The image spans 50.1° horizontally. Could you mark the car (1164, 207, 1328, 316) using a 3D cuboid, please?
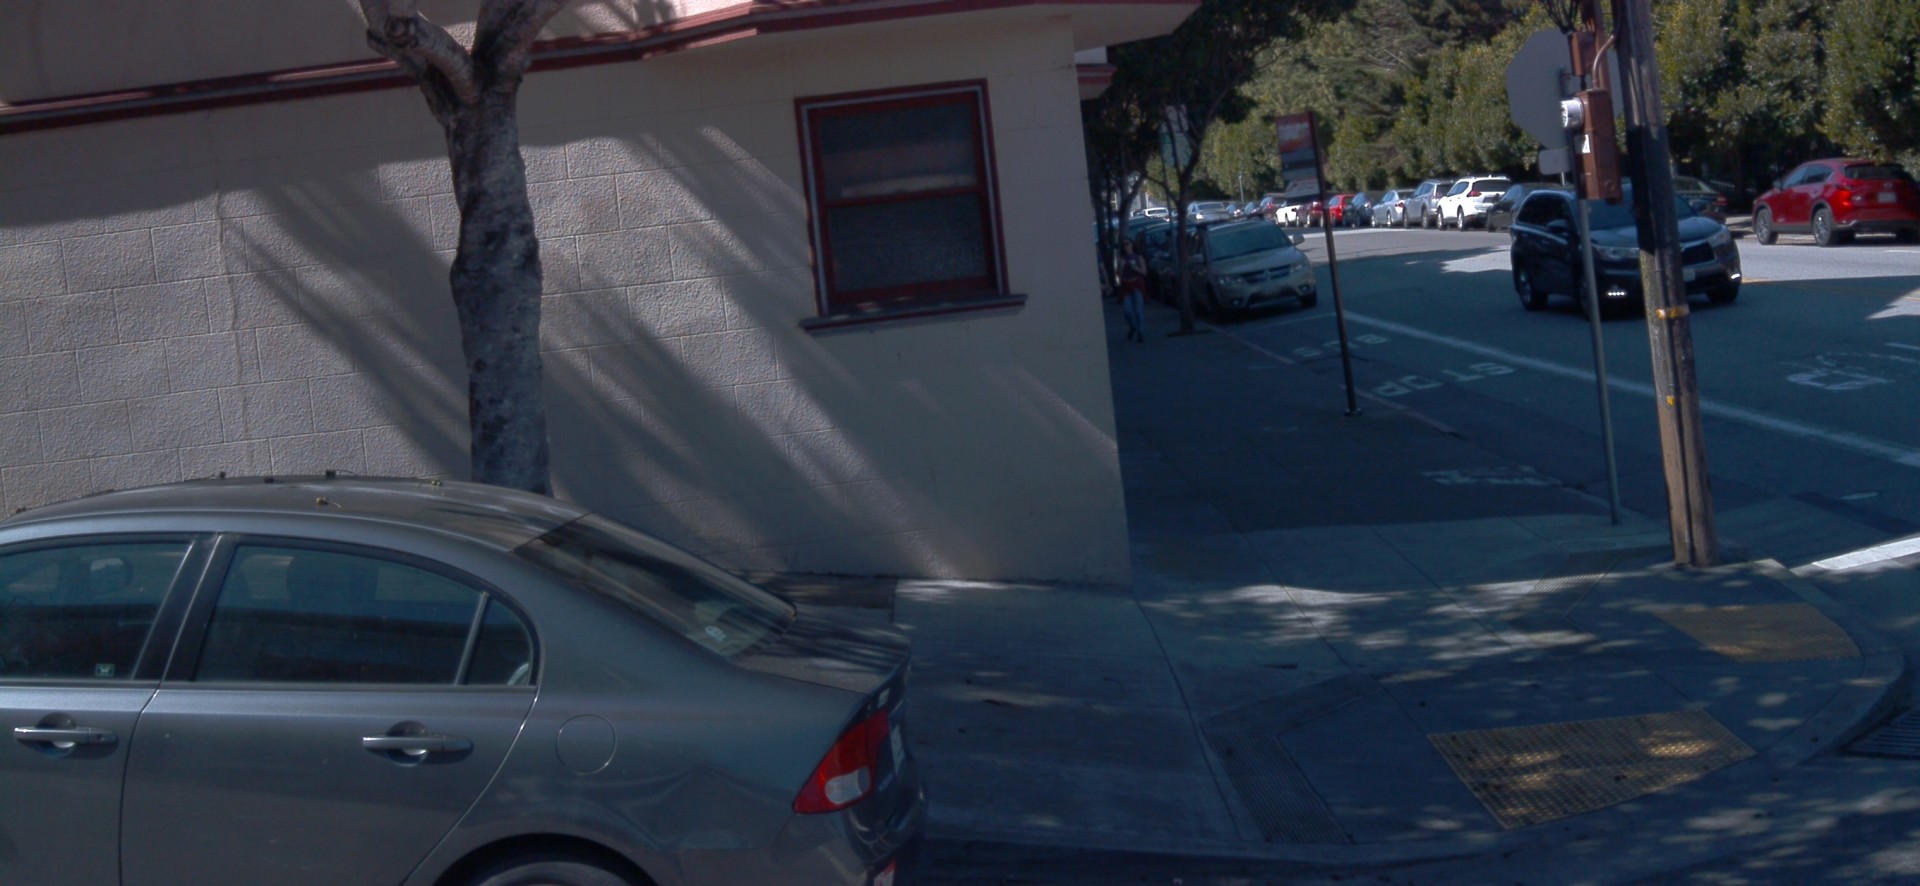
[{"bbox_3d":[5.247,-3.459,38.353,2.225,1.869,5.045,0,6,-2],"label":"car"}]

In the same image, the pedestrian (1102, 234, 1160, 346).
[{"bbox_3d":[2.781,-2.505,33.433,0.863,1.775,0.995,0,3,0],"label":"pedestrian"}]

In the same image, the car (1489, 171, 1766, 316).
[{"bbox_3d":[8.912,-2.770,27.935,2.176,1.789,4.894,0,6,0],"label":"car"}]
